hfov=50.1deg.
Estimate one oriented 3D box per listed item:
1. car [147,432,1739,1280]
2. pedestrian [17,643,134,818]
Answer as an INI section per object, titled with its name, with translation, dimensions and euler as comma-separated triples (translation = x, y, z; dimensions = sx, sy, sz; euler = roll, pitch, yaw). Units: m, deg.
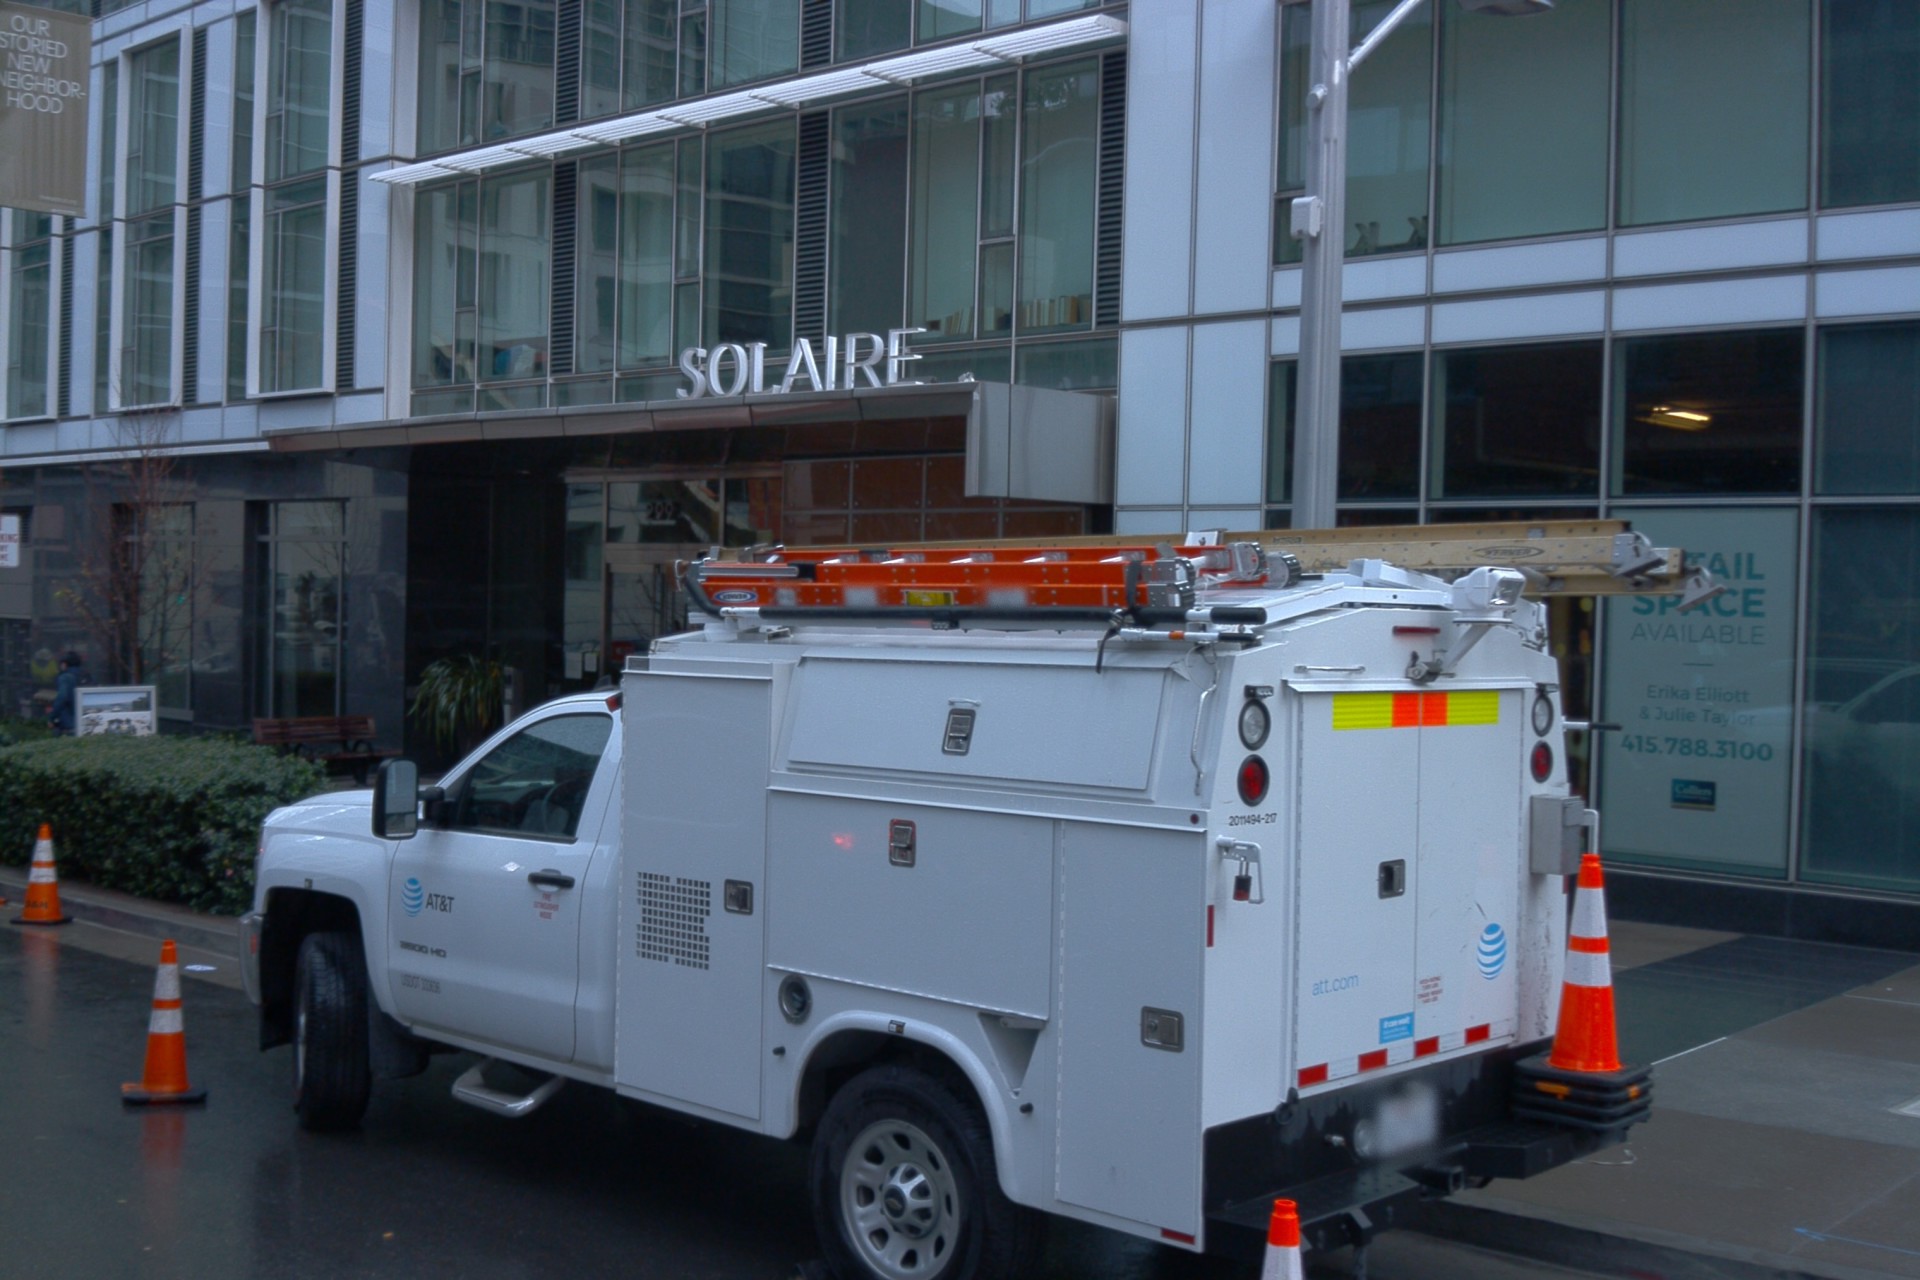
[car]
translation = -0.533, 0.792, 7.646
dimensions = 5.915, 2.580, 2.420
euler = 1, 0, 44
[pedestrian]
translation = -9.514, 0.949, 22.117
dimensions = 0.891, 1.833, 0.831
euler = 1, 1, 39
